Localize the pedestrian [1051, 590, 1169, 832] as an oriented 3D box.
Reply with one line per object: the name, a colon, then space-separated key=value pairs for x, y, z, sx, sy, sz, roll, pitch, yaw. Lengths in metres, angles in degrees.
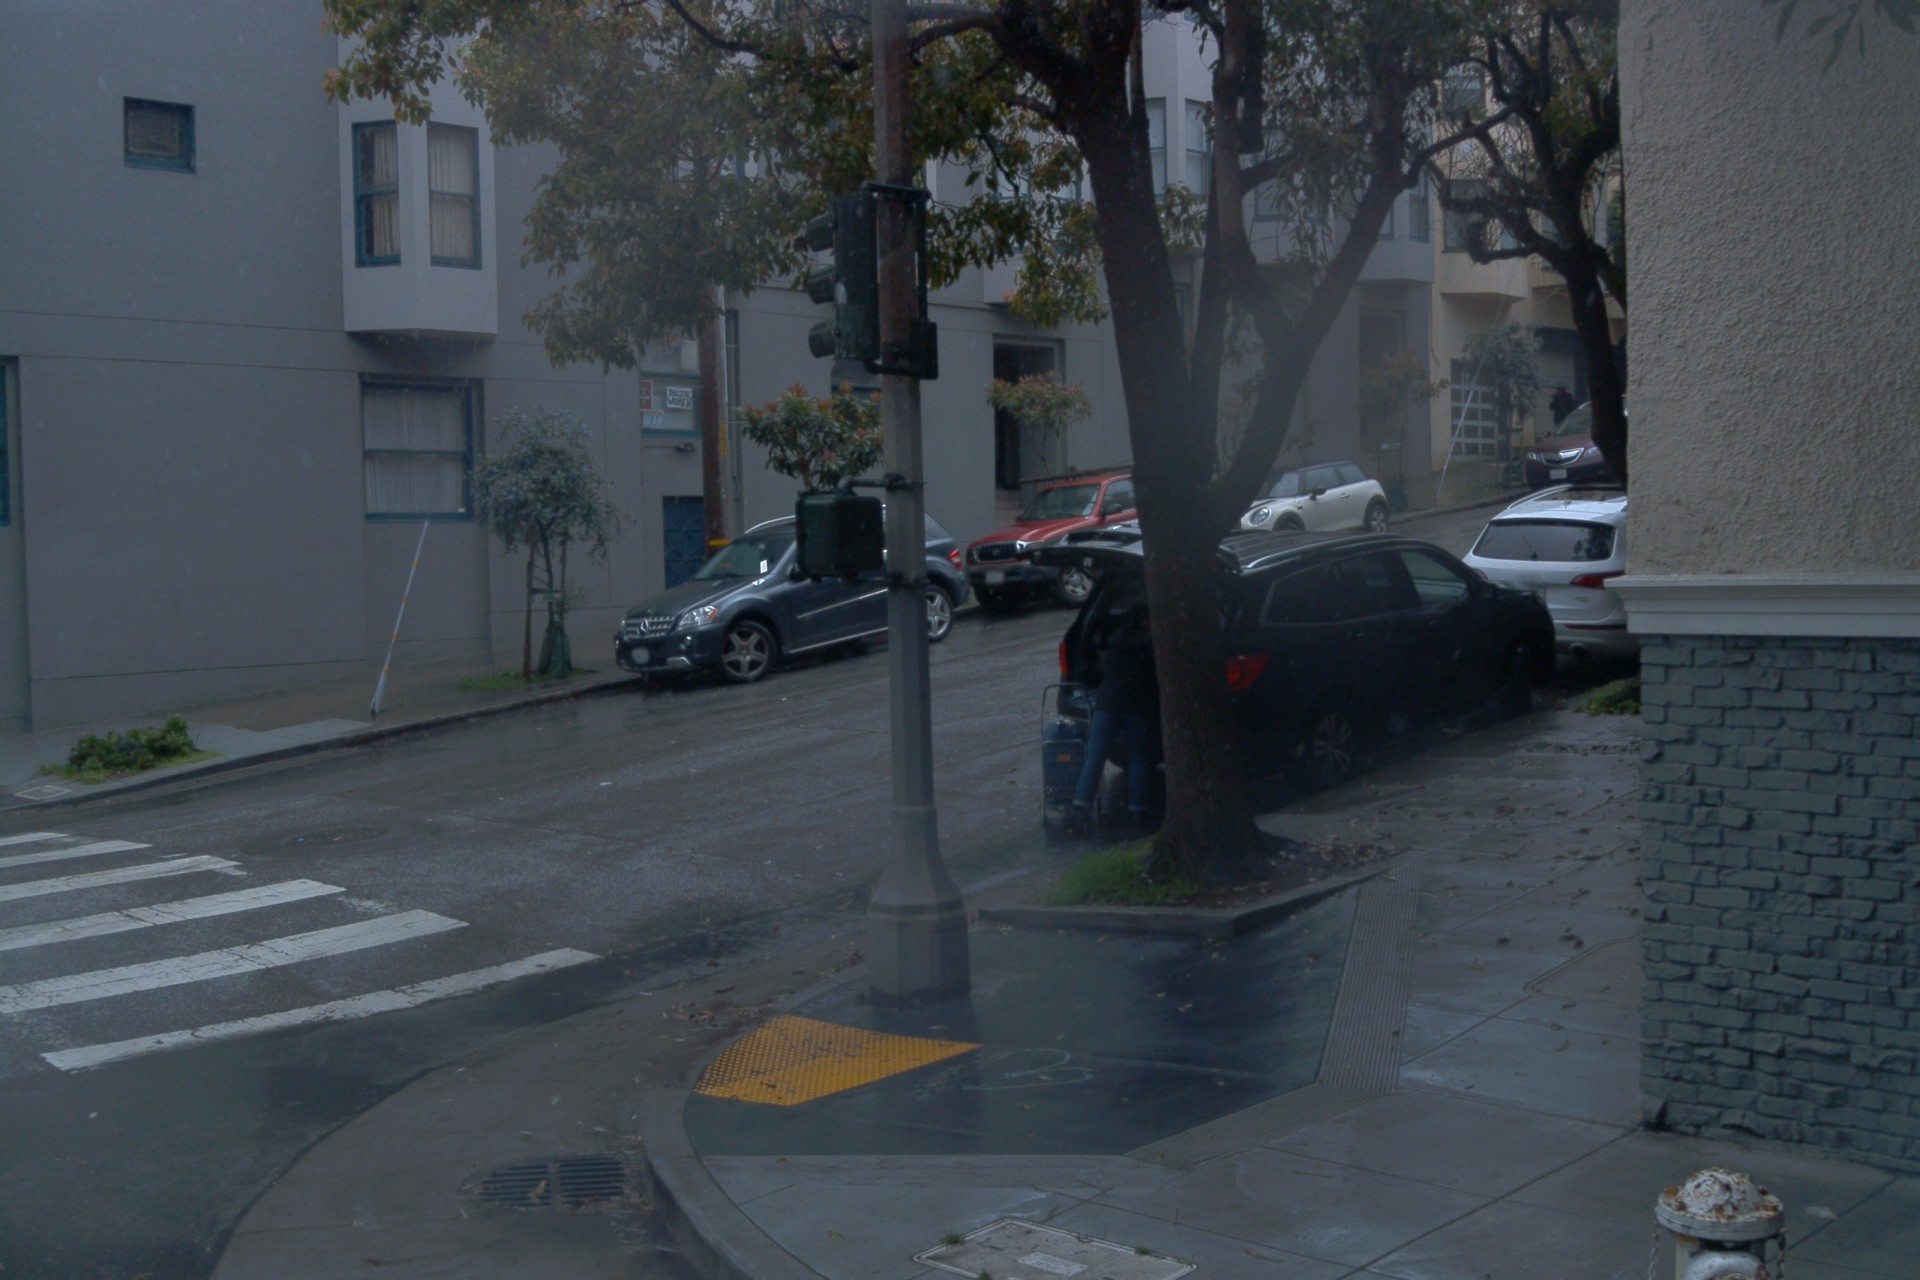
pedestrian: x=1.060 y=0.478 z=14.298 sx=0.792 sy=1.634 sz=0.886 roll=0 pitch=0 yaw=6

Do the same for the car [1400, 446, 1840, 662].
car: x=6.524 y=-0.726 z=19.878 sx=2.355 sy=1.840 sz=4.675 roll=0 pitch=0 yaw=42

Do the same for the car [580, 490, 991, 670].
car: x=-2.049 y=-0.656 z=24.965 sx=2.225 sy=1.980 sz=4.671 roll=0 pitch=0 yaw=45

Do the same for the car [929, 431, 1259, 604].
car: x=1.985 y=-1.650 z=29.236 sx=4.537 sy=2.180 sz=2.259 roll=0 pitch=0 yaw=-45

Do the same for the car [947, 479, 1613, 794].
car: x=2.723 y=-0.014 z=16.096 sx=2.384 sy=2.040 sz=5.680 roll=0 pitch=0 yaw=43
